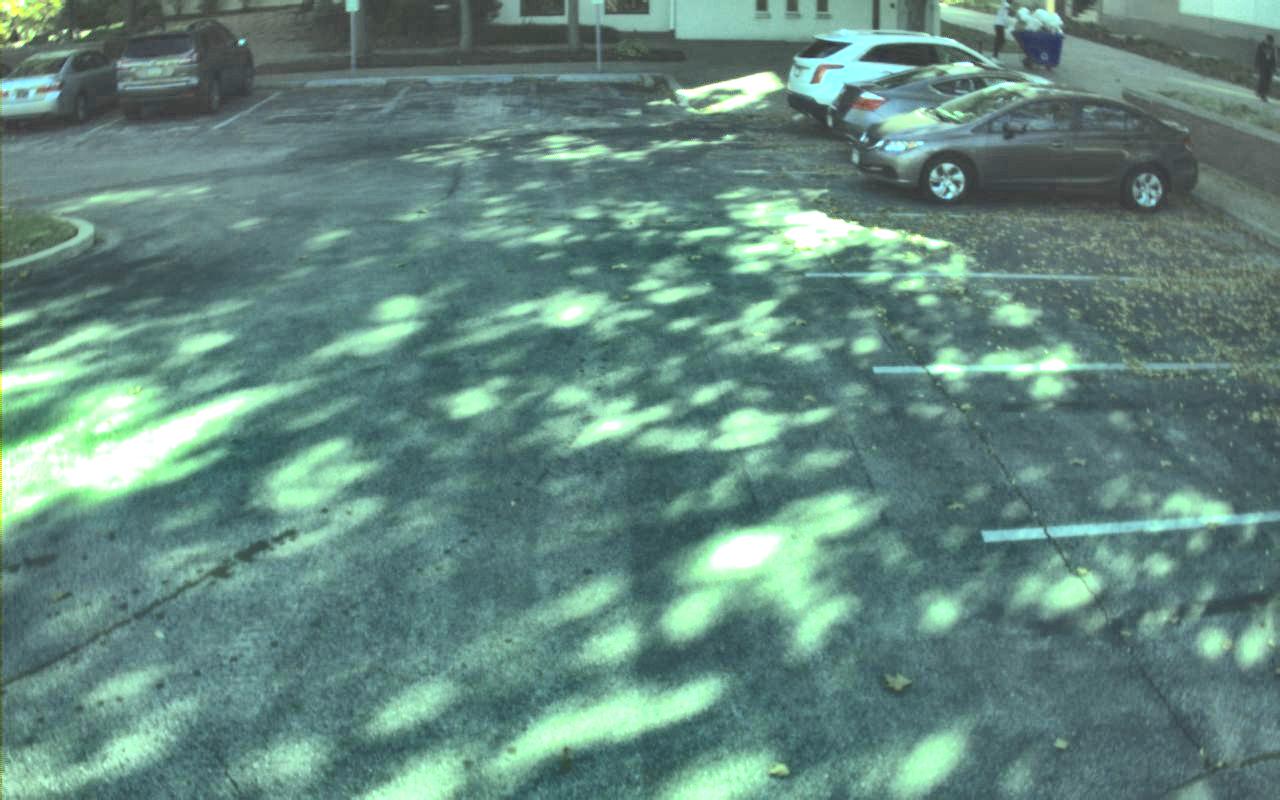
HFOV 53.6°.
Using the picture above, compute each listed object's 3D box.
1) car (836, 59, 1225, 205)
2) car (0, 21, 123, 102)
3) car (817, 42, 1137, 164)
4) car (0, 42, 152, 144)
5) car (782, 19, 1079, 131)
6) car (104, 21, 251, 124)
[{"bbox_3d":[4.869,-3.352,14.863,4.647,1.556,1.984,-2,16,-3],"label":"car"},{"bbox_3d":[-15.377,-8.785,28.803,1.971,1.688,4.547,1,17,6],"label":"car"},{"bbox_3d":[4.790,-4.239,17.130,4.296,1.529,1.919,-2,16,-4],"label":"car"},{"bbox_3d":[-11.536,-6.219,22.622,1.958,1.606,4.499,-1,17,-1],"label":"car"},{"bbox_3d":[4.668,-5.231,19.415,4.490,1.636,1.958,-3,16,-7],"label":"car"},{"bbox_3d":[-9.101,-6.535,22.964,2.004,1.697,4.616,-3,17,-7],"label":"car"}]
